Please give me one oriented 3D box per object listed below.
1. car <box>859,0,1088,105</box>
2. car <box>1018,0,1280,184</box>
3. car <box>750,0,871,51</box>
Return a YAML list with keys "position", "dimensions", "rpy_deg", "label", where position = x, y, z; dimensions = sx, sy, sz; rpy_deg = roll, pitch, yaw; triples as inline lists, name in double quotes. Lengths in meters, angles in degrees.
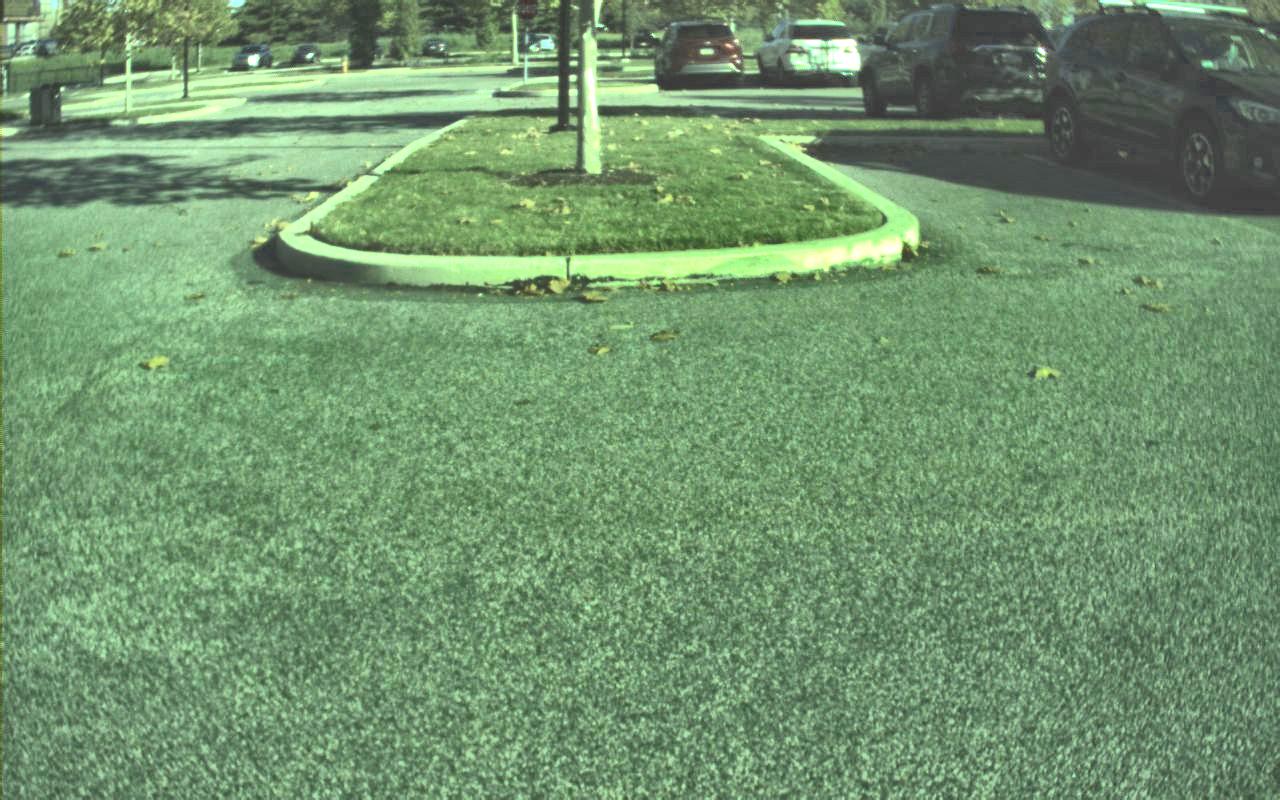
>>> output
- position: [4.753, -5.308, 17.561]
  dimensions: [1.975, 1.646, 4.646]
  rpy_deg: [-2, 17, -5]
  label: "car"
- position: [4.971, -2.992, 9.710]
  dimensions: [1.954, 1.620, 4.576]
  rpy_deg: [-3, 17, -5]
  label: "car"
- position: [4.286, -9.891, 31.227]
  dimensions: [2.059, 1.819, 4.815]
  rpy_deg: [-3, 17, -5]
  label: "car"
